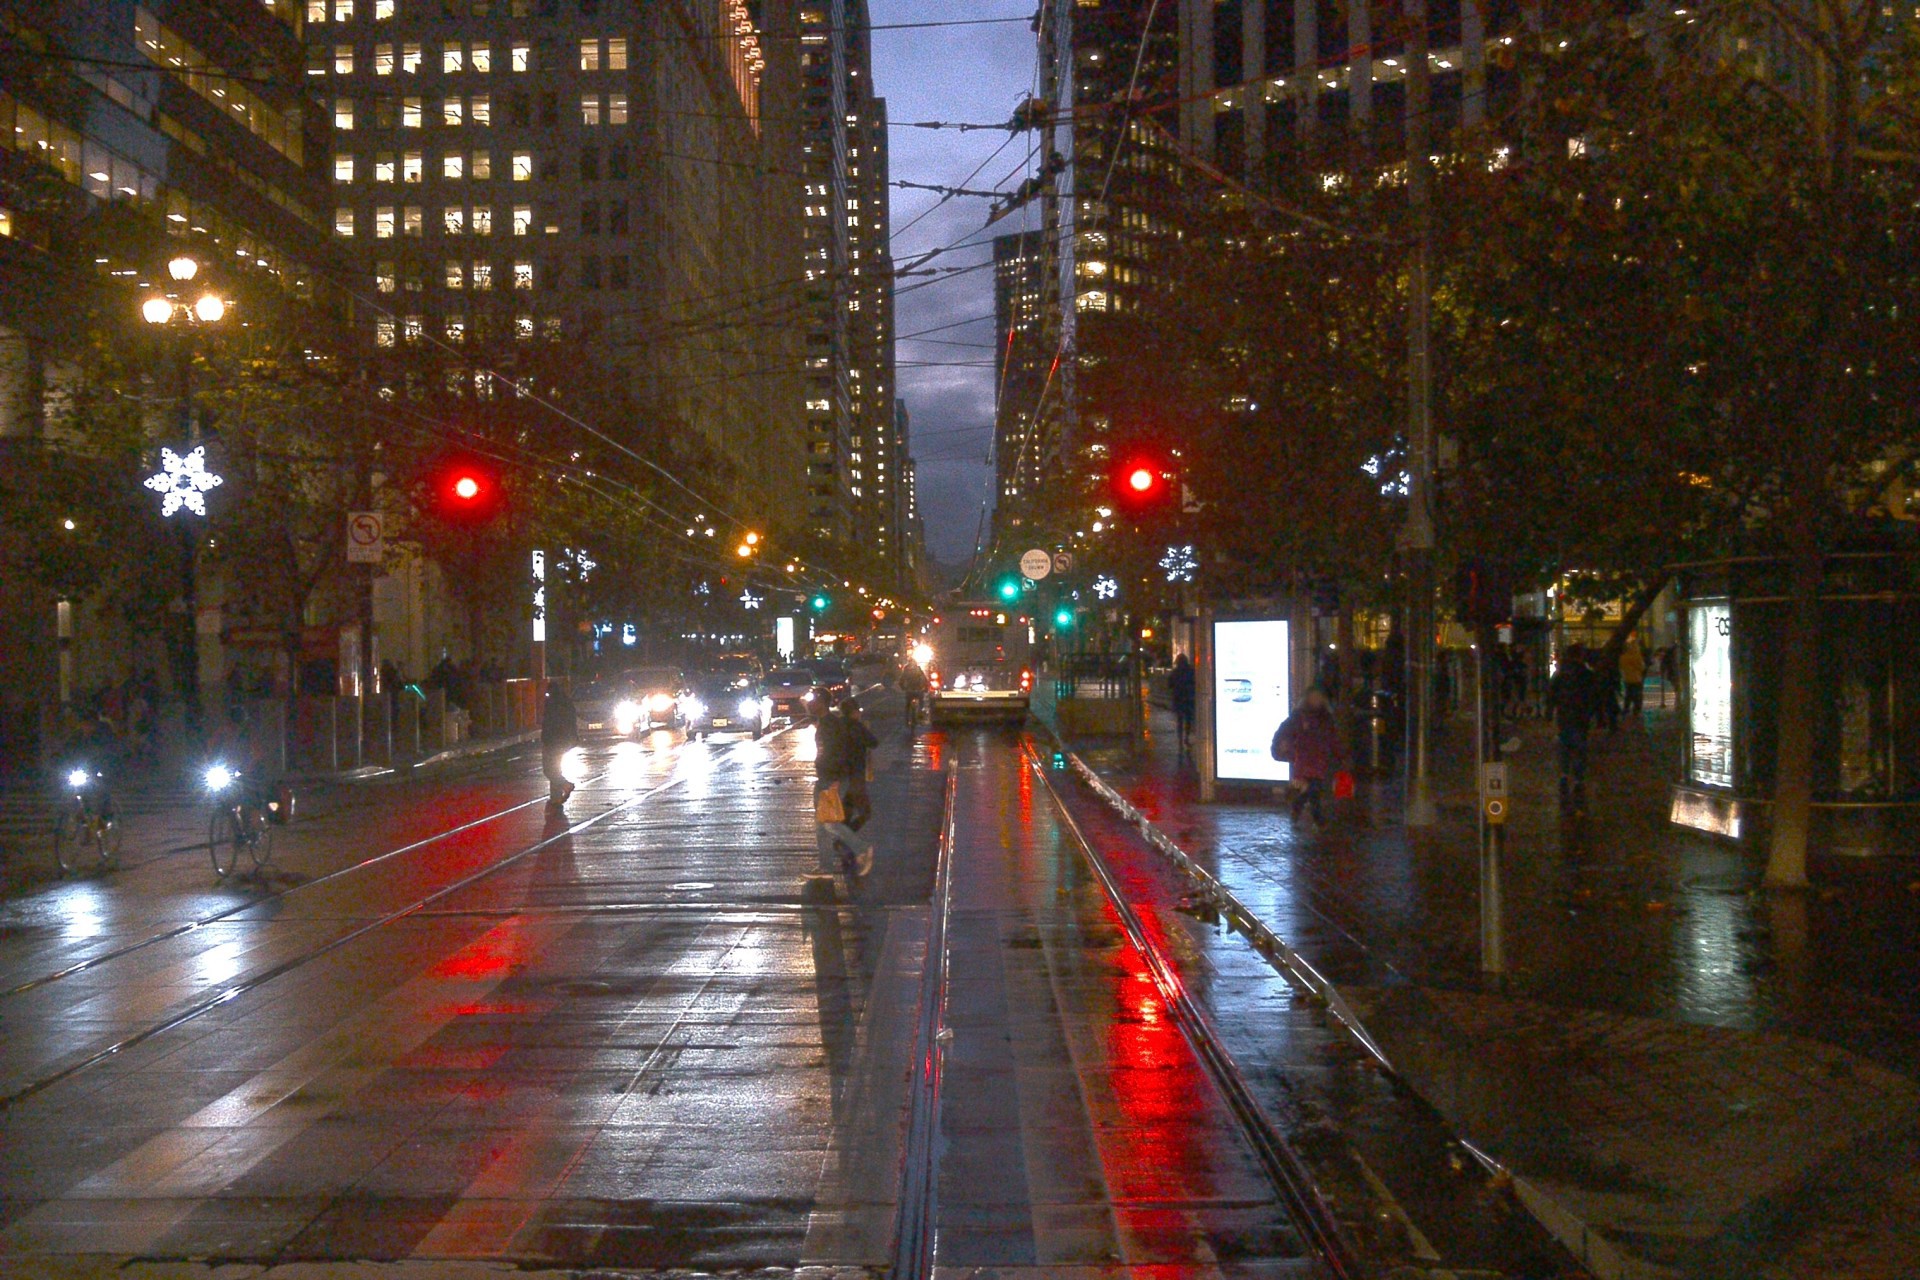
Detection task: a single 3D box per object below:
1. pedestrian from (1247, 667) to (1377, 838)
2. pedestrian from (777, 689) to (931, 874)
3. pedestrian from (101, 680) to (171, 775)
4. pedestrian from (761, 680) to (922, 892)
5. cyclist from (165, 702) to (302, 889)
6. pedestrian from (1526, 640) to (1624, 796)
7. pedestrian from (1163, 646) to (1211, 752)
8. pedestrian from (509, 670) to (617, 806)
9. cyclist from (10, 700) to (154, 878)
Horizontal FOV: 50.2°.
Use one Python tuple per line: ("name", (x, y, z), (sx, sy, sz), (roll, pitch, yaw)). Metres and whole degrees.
("pedestrian", (3.646, 1.144, 21.289), (1.008, 1.710, 1.060), (0, 0, -11))
("pedestrian", (-1.021, 1.321, 19.607), (1.051, 1.670, 1.131), (0, 0, -31))
("pedestrian", (-14.372, 1.523, 35.747), (1.000, 1.630, 0.740), (0, 0, -9))
("pedestrian", (-1.061, 1.265, 18.269), (1.149, 1.800, 0.869), (0, 0, -31))
("cyclist", (-7.002, 1.465, 19.814), (0.731, 1.680, 1.742), (0, 0, -1))
("pedestrian", (7.863, 0.970, 26.168), (0.925, 1.940, 1.203), (0, 0, 31))
("pedestrian", (4.136, 1.059, 37.295), (0.780, 1.890, 1.221), (0, 0, 11))
("pedestrian", (-5.389, 1.307, 27.785), (1.177, 1.780, 0.853), (0, 0, 34))
("cyclist", (-8.897, 1.477, 20.836), (0.760, 1.680, 1.786), (0, 0, -2))
